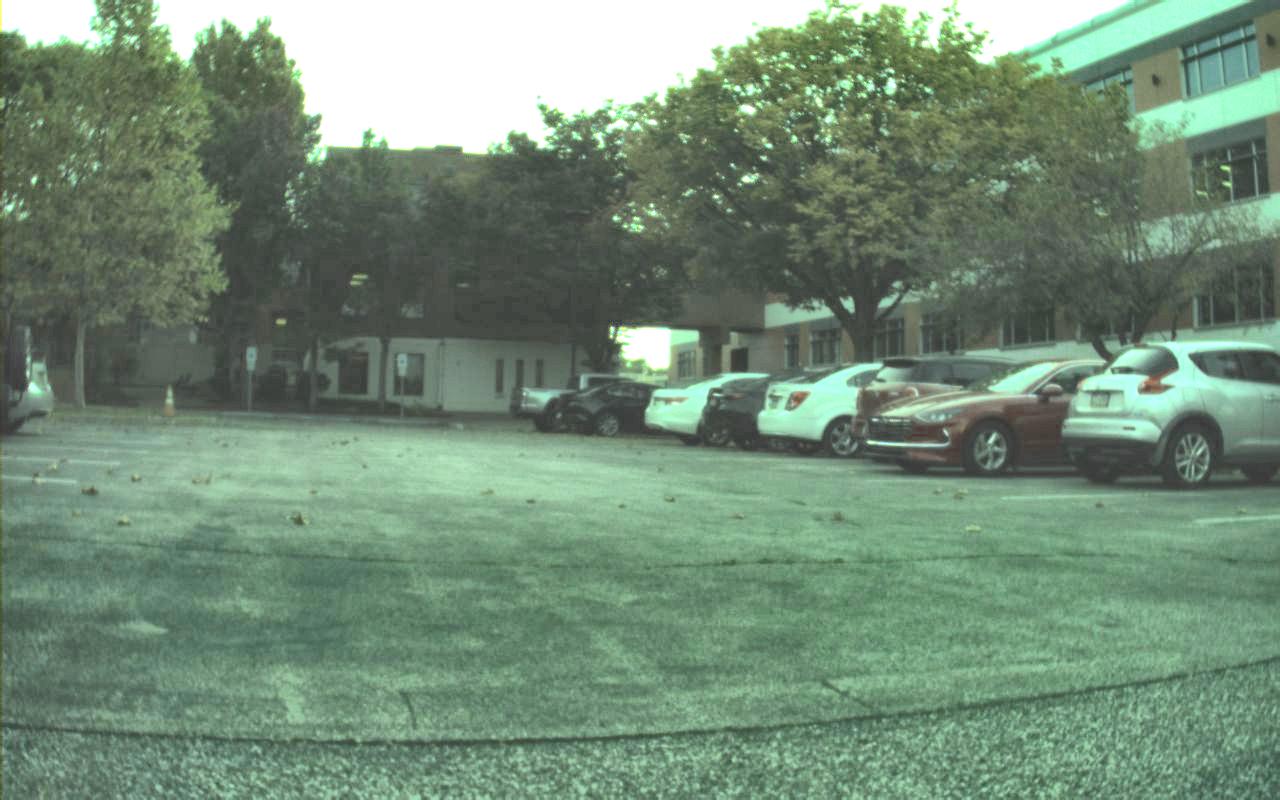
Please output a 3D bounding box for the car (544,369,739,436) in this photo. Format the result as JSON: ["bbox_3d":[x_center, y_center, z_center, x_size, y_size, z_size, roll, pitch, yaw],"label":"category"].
[{"bbox_3d":[0.050,0.031,32.295,4.599,1.601,1.956,0,1,-25],"label":"car"}]

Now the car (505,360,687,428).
[{"bbox_3d":[-1.324,-0.184,37.146,5.019,1.917,2.094,0,1,-18],"label":"car"}]

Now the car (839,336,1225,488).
[{"bbox_3d":[4.942,0.108,14.917,4.678,1.631,1.981,0,1,-18],"label":"car"}]

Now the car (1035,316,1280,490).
[{"bbox_3d":[6.489,0.023,12.506,4.257,1.632,1.885,0,1,-15],"label":"car"}]

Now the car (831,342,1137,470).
[{"bbox_3d":[5.130,0.047,17.907,4.423,1.666,1.933,0,1,-25],"label":"car"}]

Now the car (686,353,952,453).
[{"bbox_3d":[3.227,0.021,22.526,4.428,1.652,1.938,0,1,-18],"label":"car"}]

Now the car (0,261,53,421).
[{"bbox_3d":[-9.533,-0.640,12.983,4.686,1.798,2.023,0,1,-20],"label":"car"}]

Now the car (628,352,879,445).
[{"bbox_3d":[2.232,-0.052,24.938,4.588,1.719,1.992,0,1,-15],"label":"car"}]

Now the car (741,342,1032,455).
[{"bbox_3d":[4.026,-0.043,20.237,4.423,1.671,1.925,0,1,-15],"label":"car"}]
